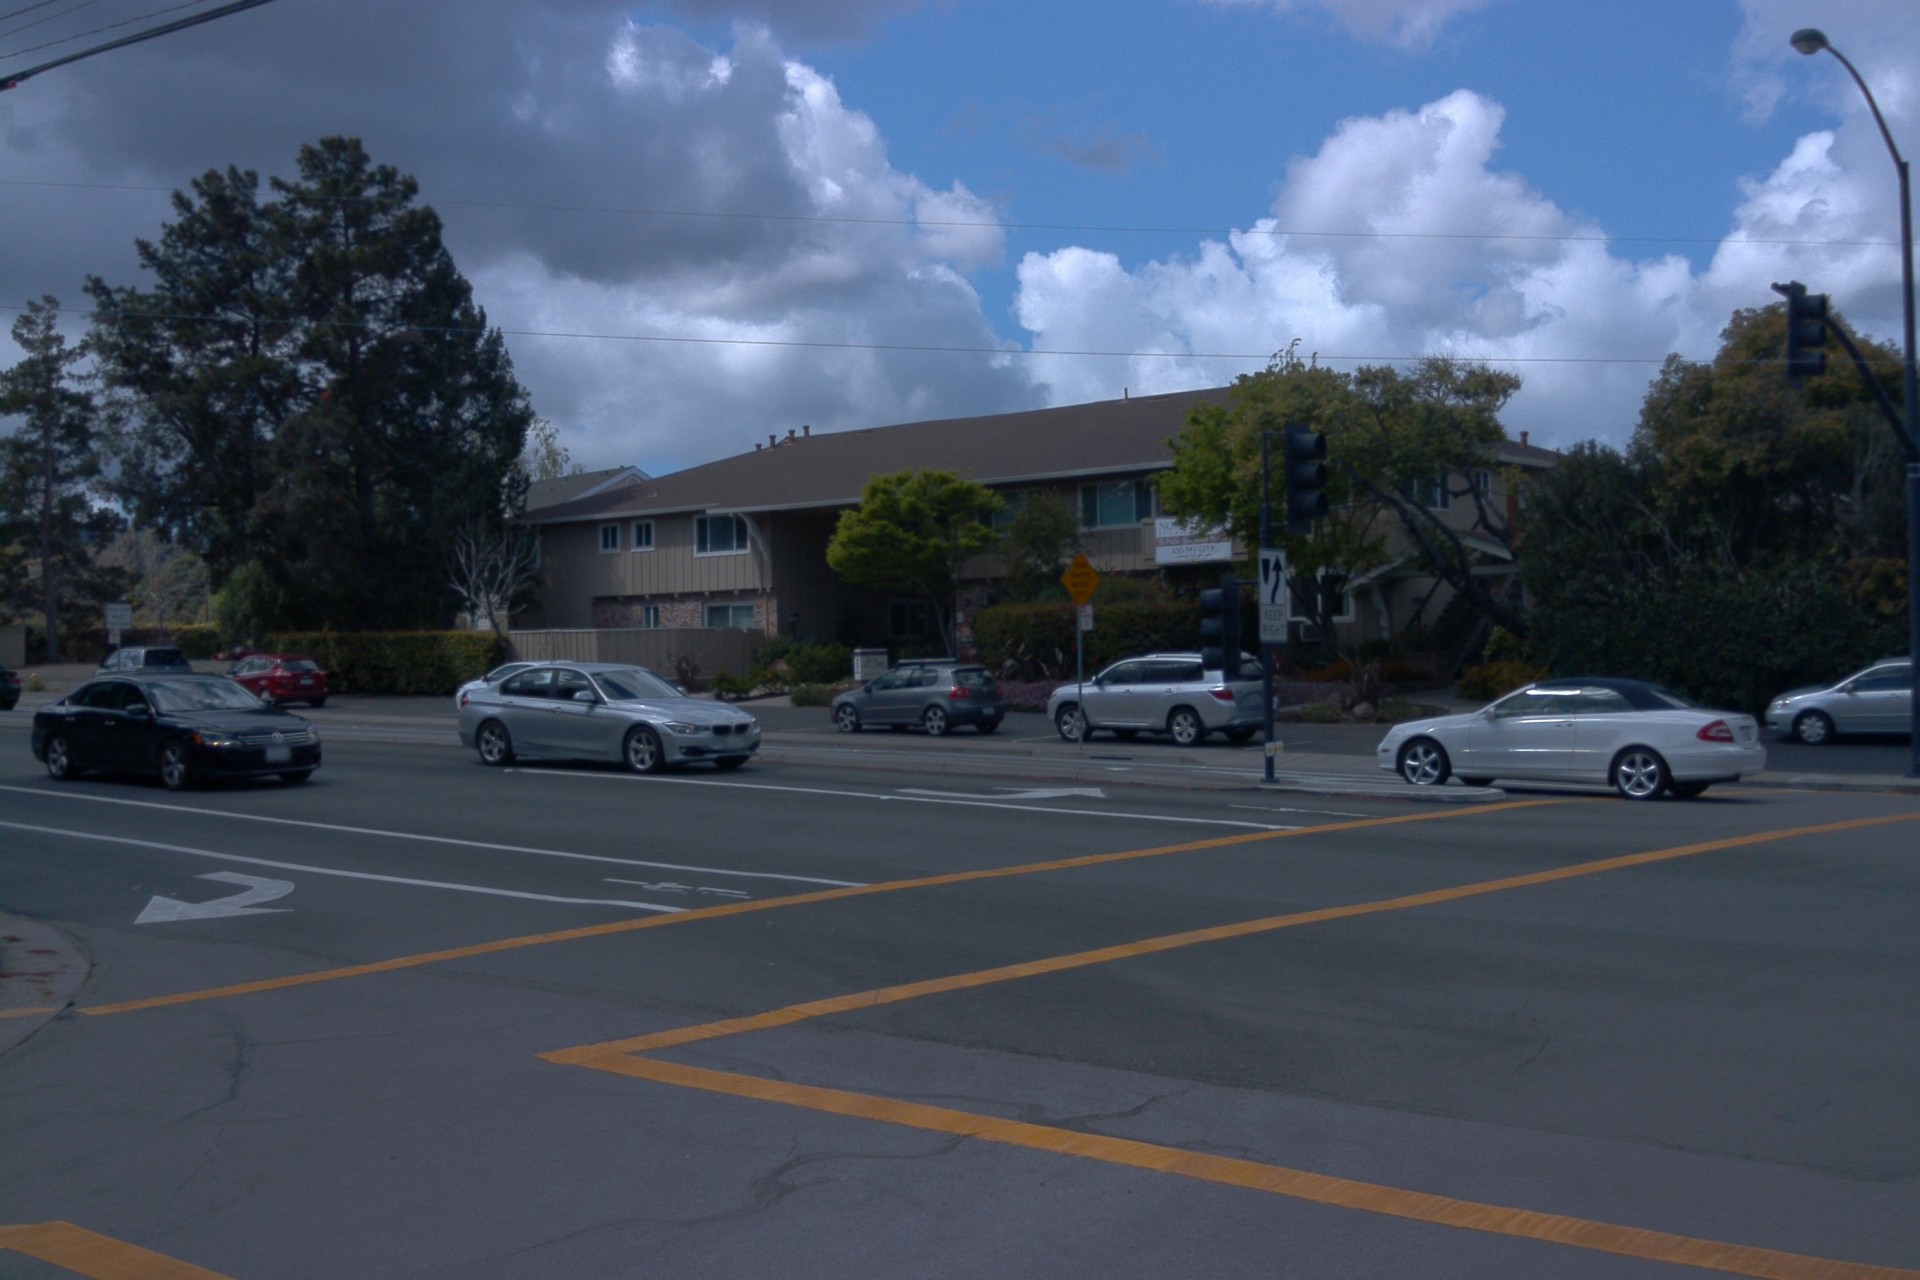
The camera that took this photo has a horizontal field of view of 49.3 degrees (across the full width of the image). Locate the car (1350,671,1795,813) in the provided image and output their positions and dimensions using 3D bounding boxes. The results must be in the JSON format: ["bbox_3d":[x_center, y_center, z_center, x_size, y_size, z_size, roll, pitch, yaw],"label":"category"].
[{"bbox_3d":[7.272,1.143,25.027,4.647,1.490,2.113,0,0,38],"label":"car"}]

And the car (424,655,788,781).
[{"bbox_3d":[-4.906,1.008,28.681,4.906,1.560,2.026,0,0,36],"label":"car"}]
